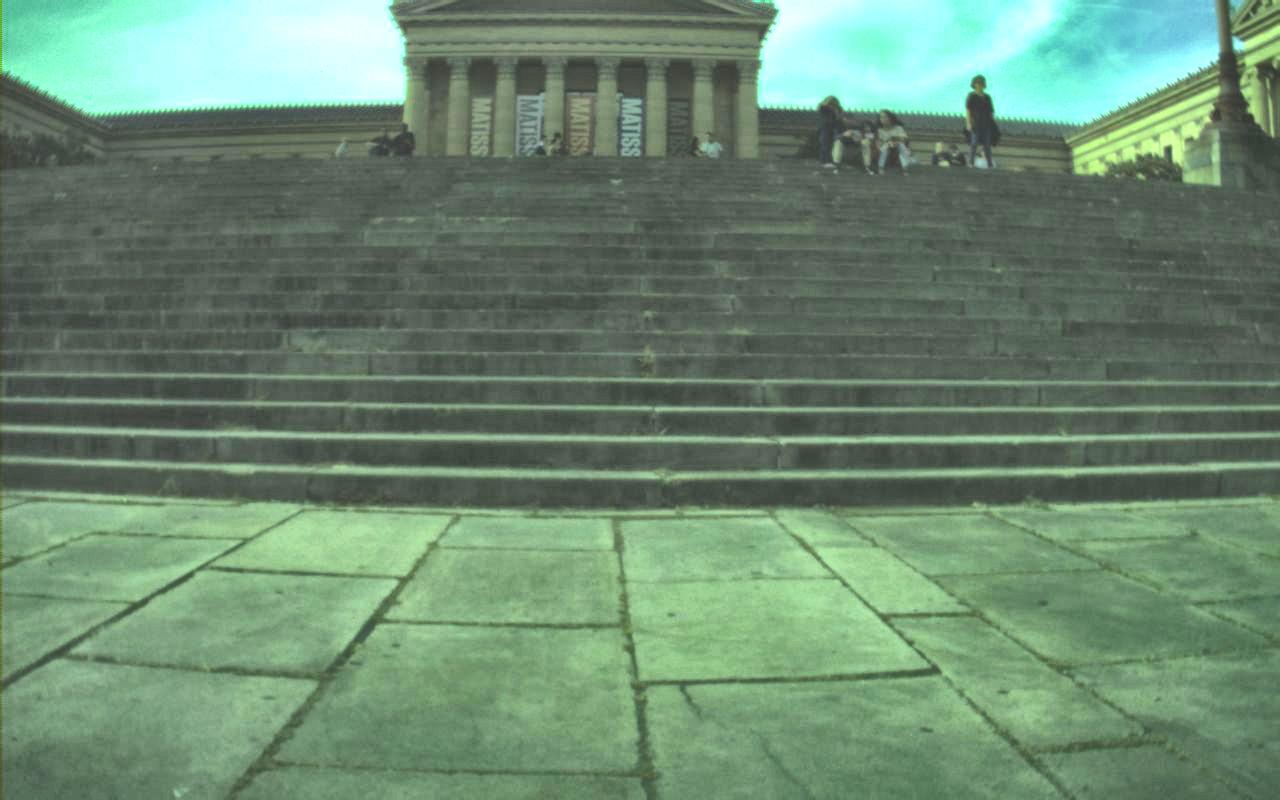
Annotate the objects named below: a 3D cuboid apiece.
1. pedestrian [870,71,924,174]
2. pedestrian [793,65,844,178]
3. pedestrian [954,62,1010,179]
[{"bbox_3d":[3.932,-4.235,18.785,0.739,1.474,0.754,0,0,6],"label":"pedestrian"},{"bbox_3d":[2.730,-4.253,18.967,0.679,1.634,0.721,0,0,1],"label":"pedestrian"},{"bbox_3d":[5.565,-4.534,19.707,0.703,1.808,0.684,0,0,-3],"label":"pedestrian"}]
